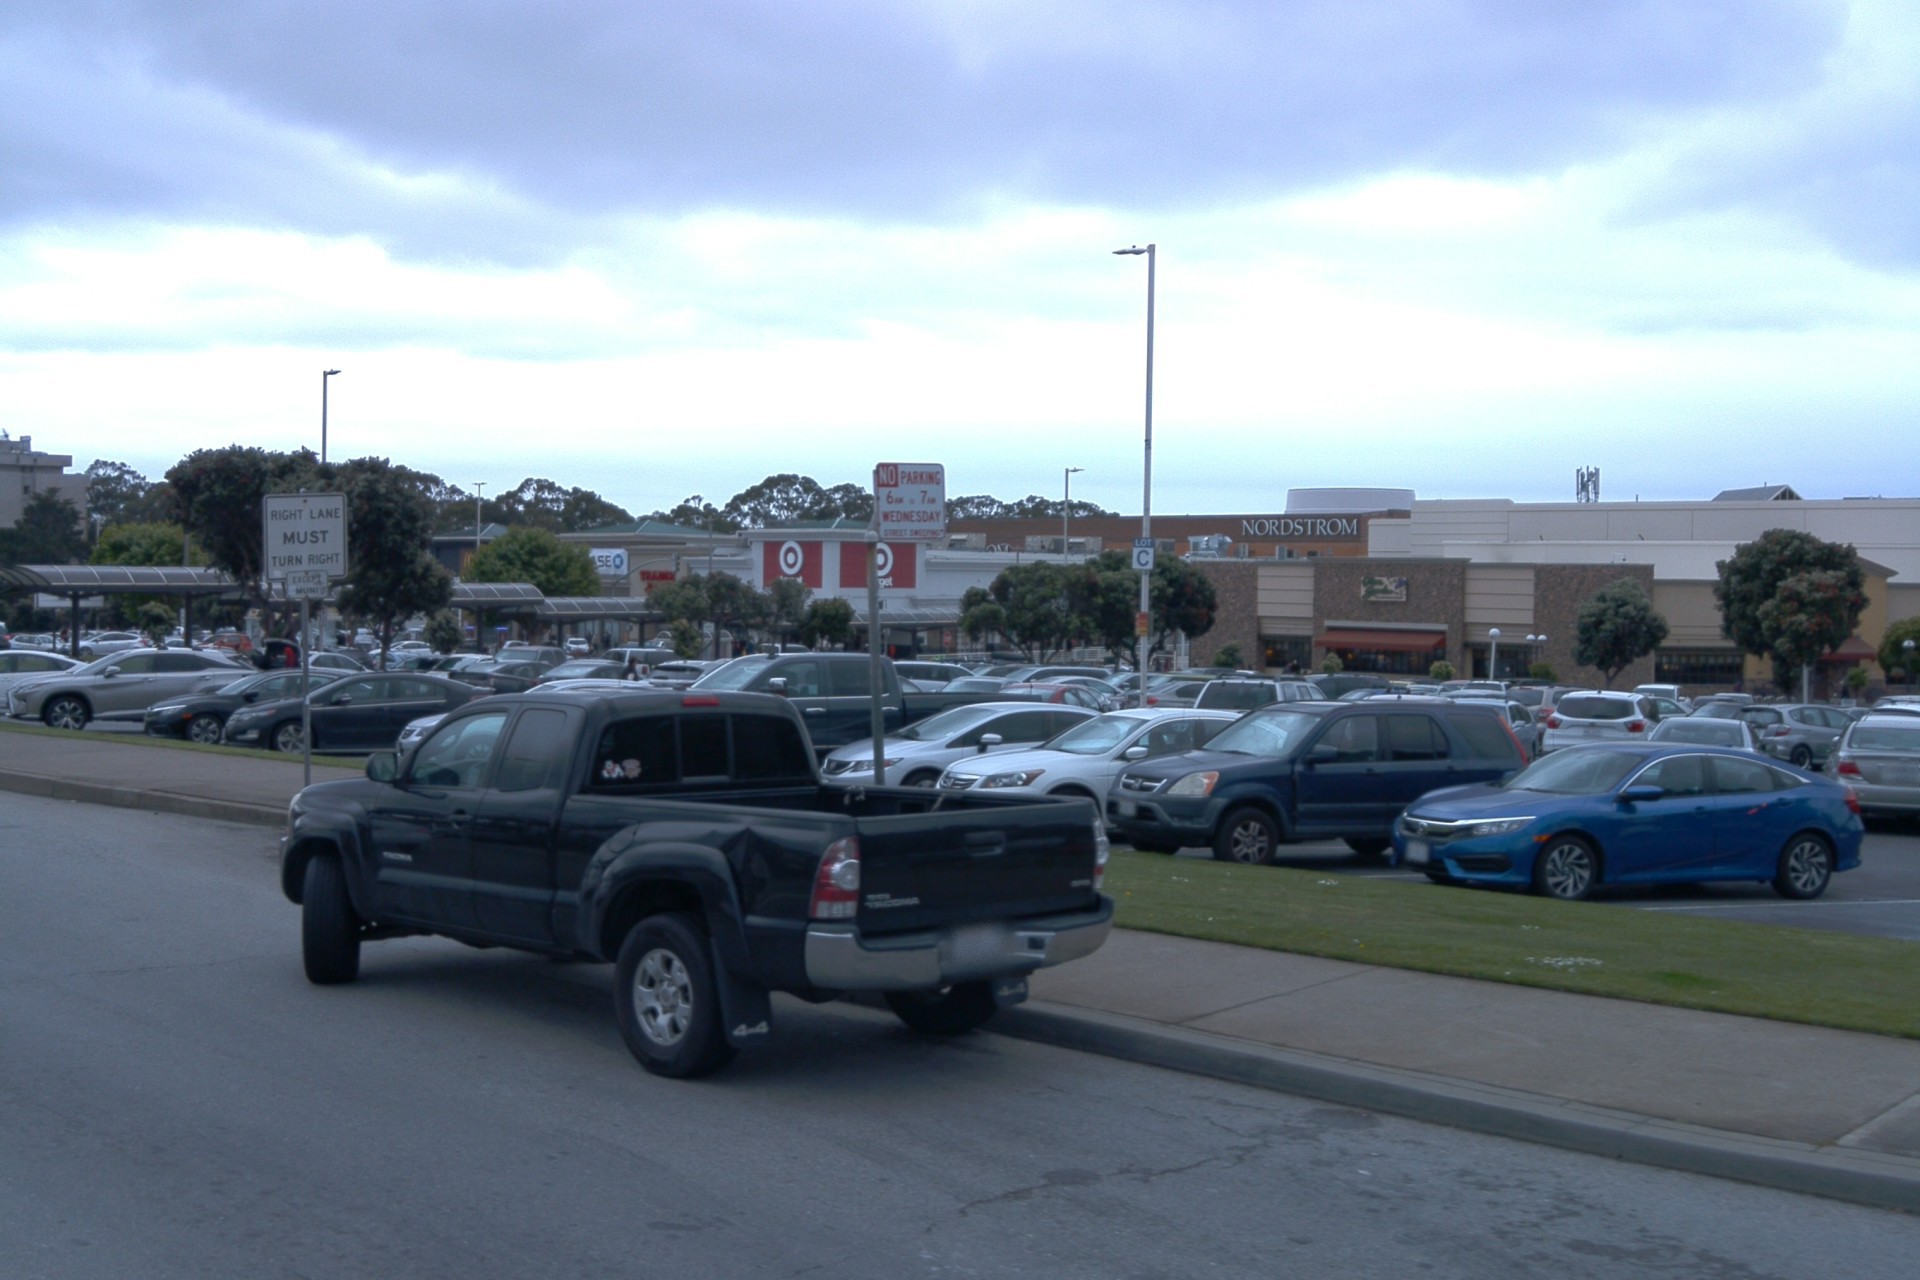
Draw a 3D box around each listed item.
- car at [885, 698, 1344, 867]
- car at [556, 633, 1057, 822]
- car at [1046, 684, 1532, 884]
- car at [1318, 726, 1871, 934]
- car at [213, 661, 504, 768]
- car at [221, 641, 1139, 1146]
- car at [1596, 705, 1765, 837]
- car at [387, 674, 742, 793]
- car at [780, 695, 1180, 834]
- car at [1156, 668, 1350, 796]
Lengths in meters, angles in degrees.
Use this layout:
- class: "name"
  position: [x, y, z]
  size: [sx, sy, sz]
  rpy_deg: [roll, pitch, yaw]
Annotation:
- class: "car"
  position: [1.743, 1.523, 23.162]
  size: [4.684, 1.590, 2.134]
  rpy_deg: [0, 0, -25]
- class: "car"
  position: [-1.991, 1.038, 27.161]
  size: [6.032, 2.200, 2.650]
  rpy_deg: [0, 0, -29]
- class: "car"
  position: [3.362, 1.374, 20.993]
  size: [4.406, 1.710, 2.256]
  rpy_deg: [0, 0, -27]
- class: "car"
  position: [5.934, 1.686, 19.265]
  size: [4.635, 1.550, 2.128]
  rpy_deg: [0, 0, -22]
- class: "car"
  position: [-10.197, 1.211, 34.832]
  size: [4.434, 1.630, 2.131]
  rpy_deg: [0, 0, -25]
- class: "car"
  position: [-1.772, 1.048, 11.140]
  size: [2.194, 2.030, 5.308]
  rpy_deg: [-1, 1, -44]
- class: "car"
  position: [10.708, 1.862, 30.376]
  size: [1.948, 1.600, 4.234]
  rpy_deg: [0, 1, 25]
- class: "car"
  position: [-5.937, 1.349, 30.834]
  size: [4.870, 1.560, 2.109]
  rpy_deg: [0, 0, -23]
- class: "car"
  position: [0.246, 1.478, 25.463]
  size: [4.463, 1.449, 2.123]
  rpy_deg: [0, 0, -24]
- class: "car"
  position: [5.163, 1.521, 35.677]
  size: [2.111, 1.940, 4.533]
  rpy_deg: [0, 1, 25]
